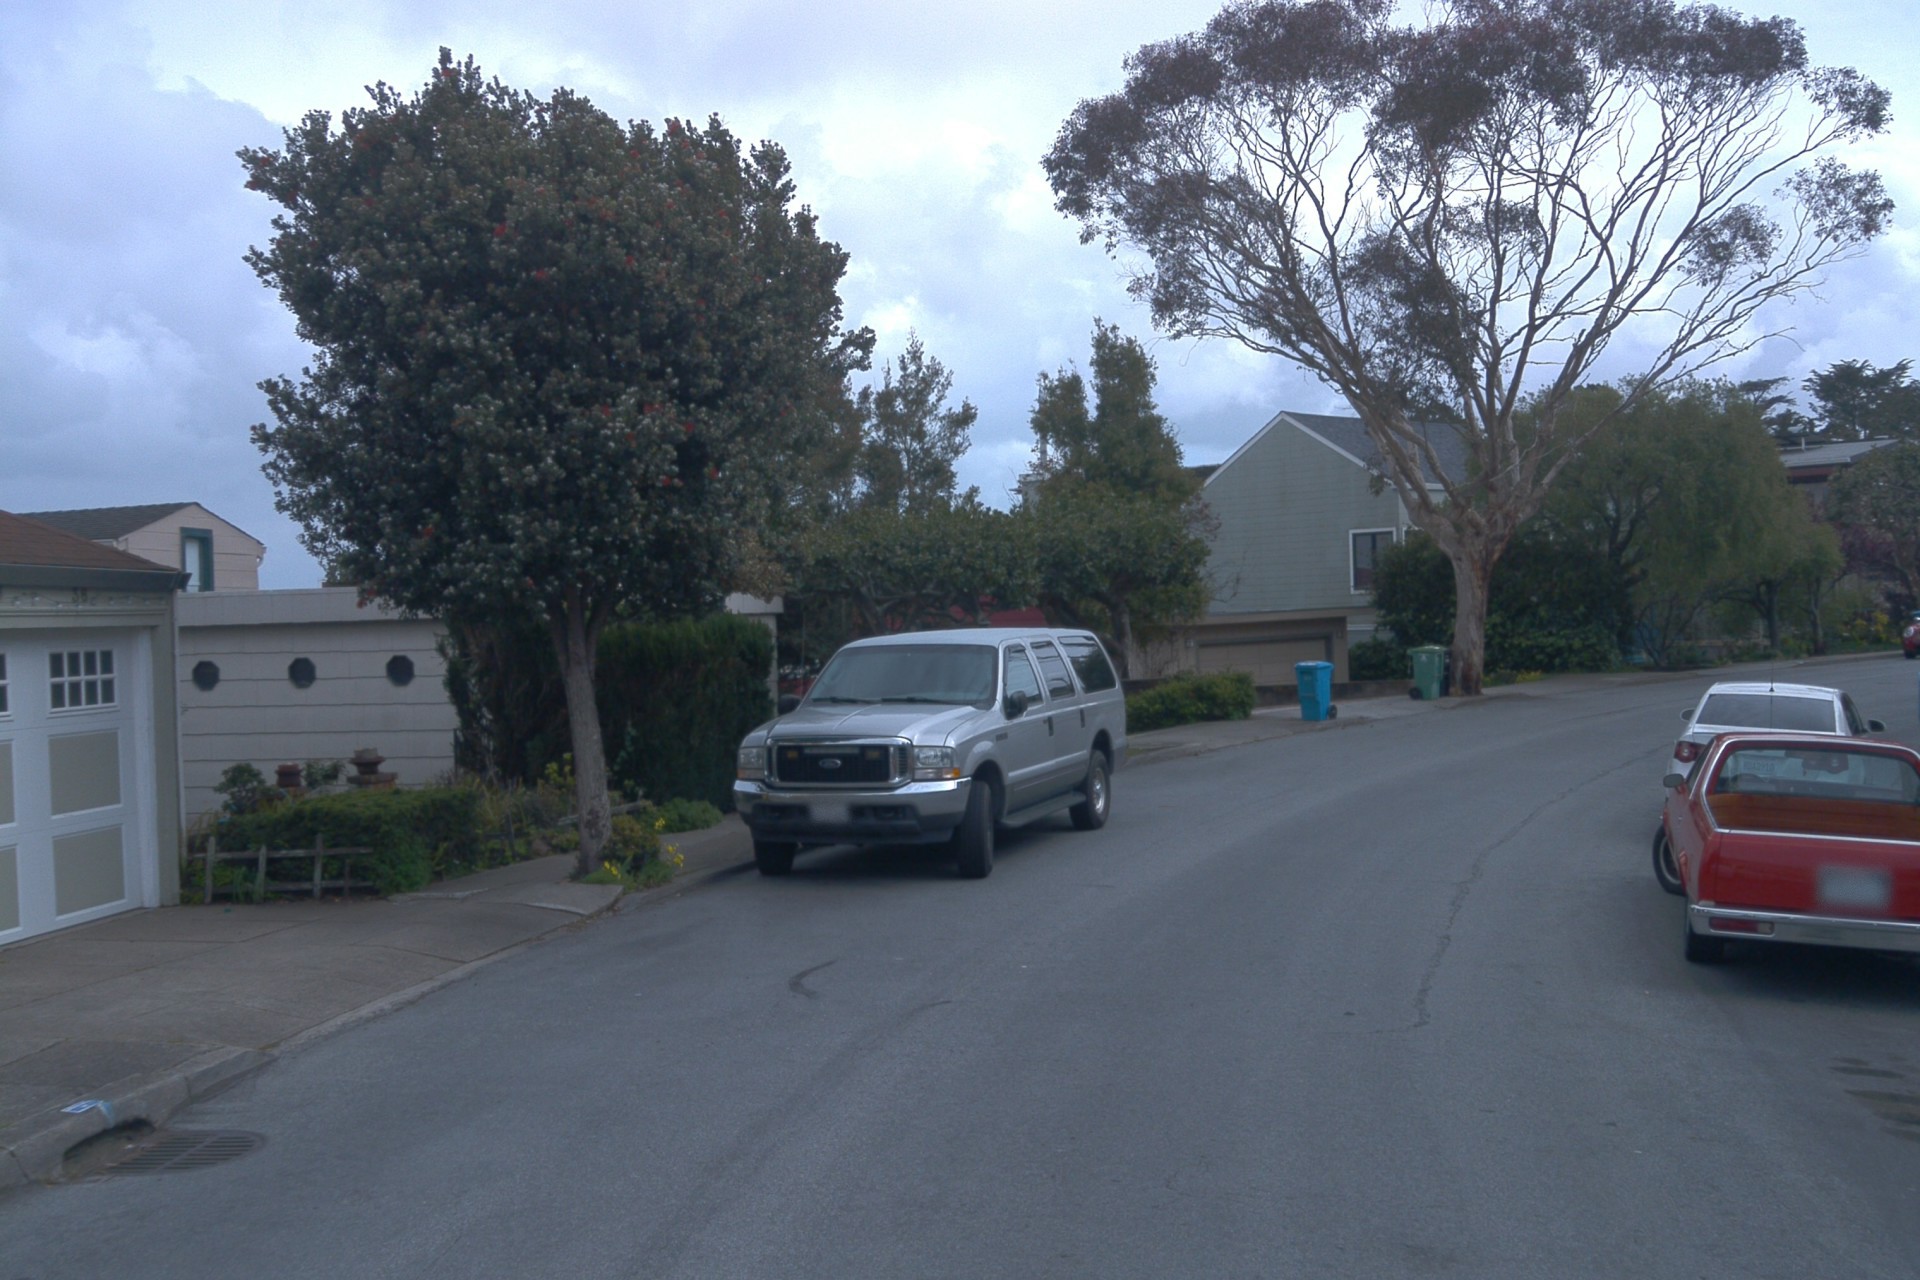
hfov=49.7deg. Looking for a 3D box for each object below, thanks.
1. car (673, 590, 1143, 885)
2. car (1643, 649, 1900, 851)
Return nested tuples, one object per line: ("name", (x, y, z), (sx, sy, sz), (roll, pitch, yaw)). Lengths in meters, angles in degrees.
("car", (-0.199, 0.748, 18.689), (2.373, 2.210, 5.824), (0, 0, 19))
("car", (8.036, 0.959, 20.261), (2.031, 1.730, 4.594), (0, 0, 25))
